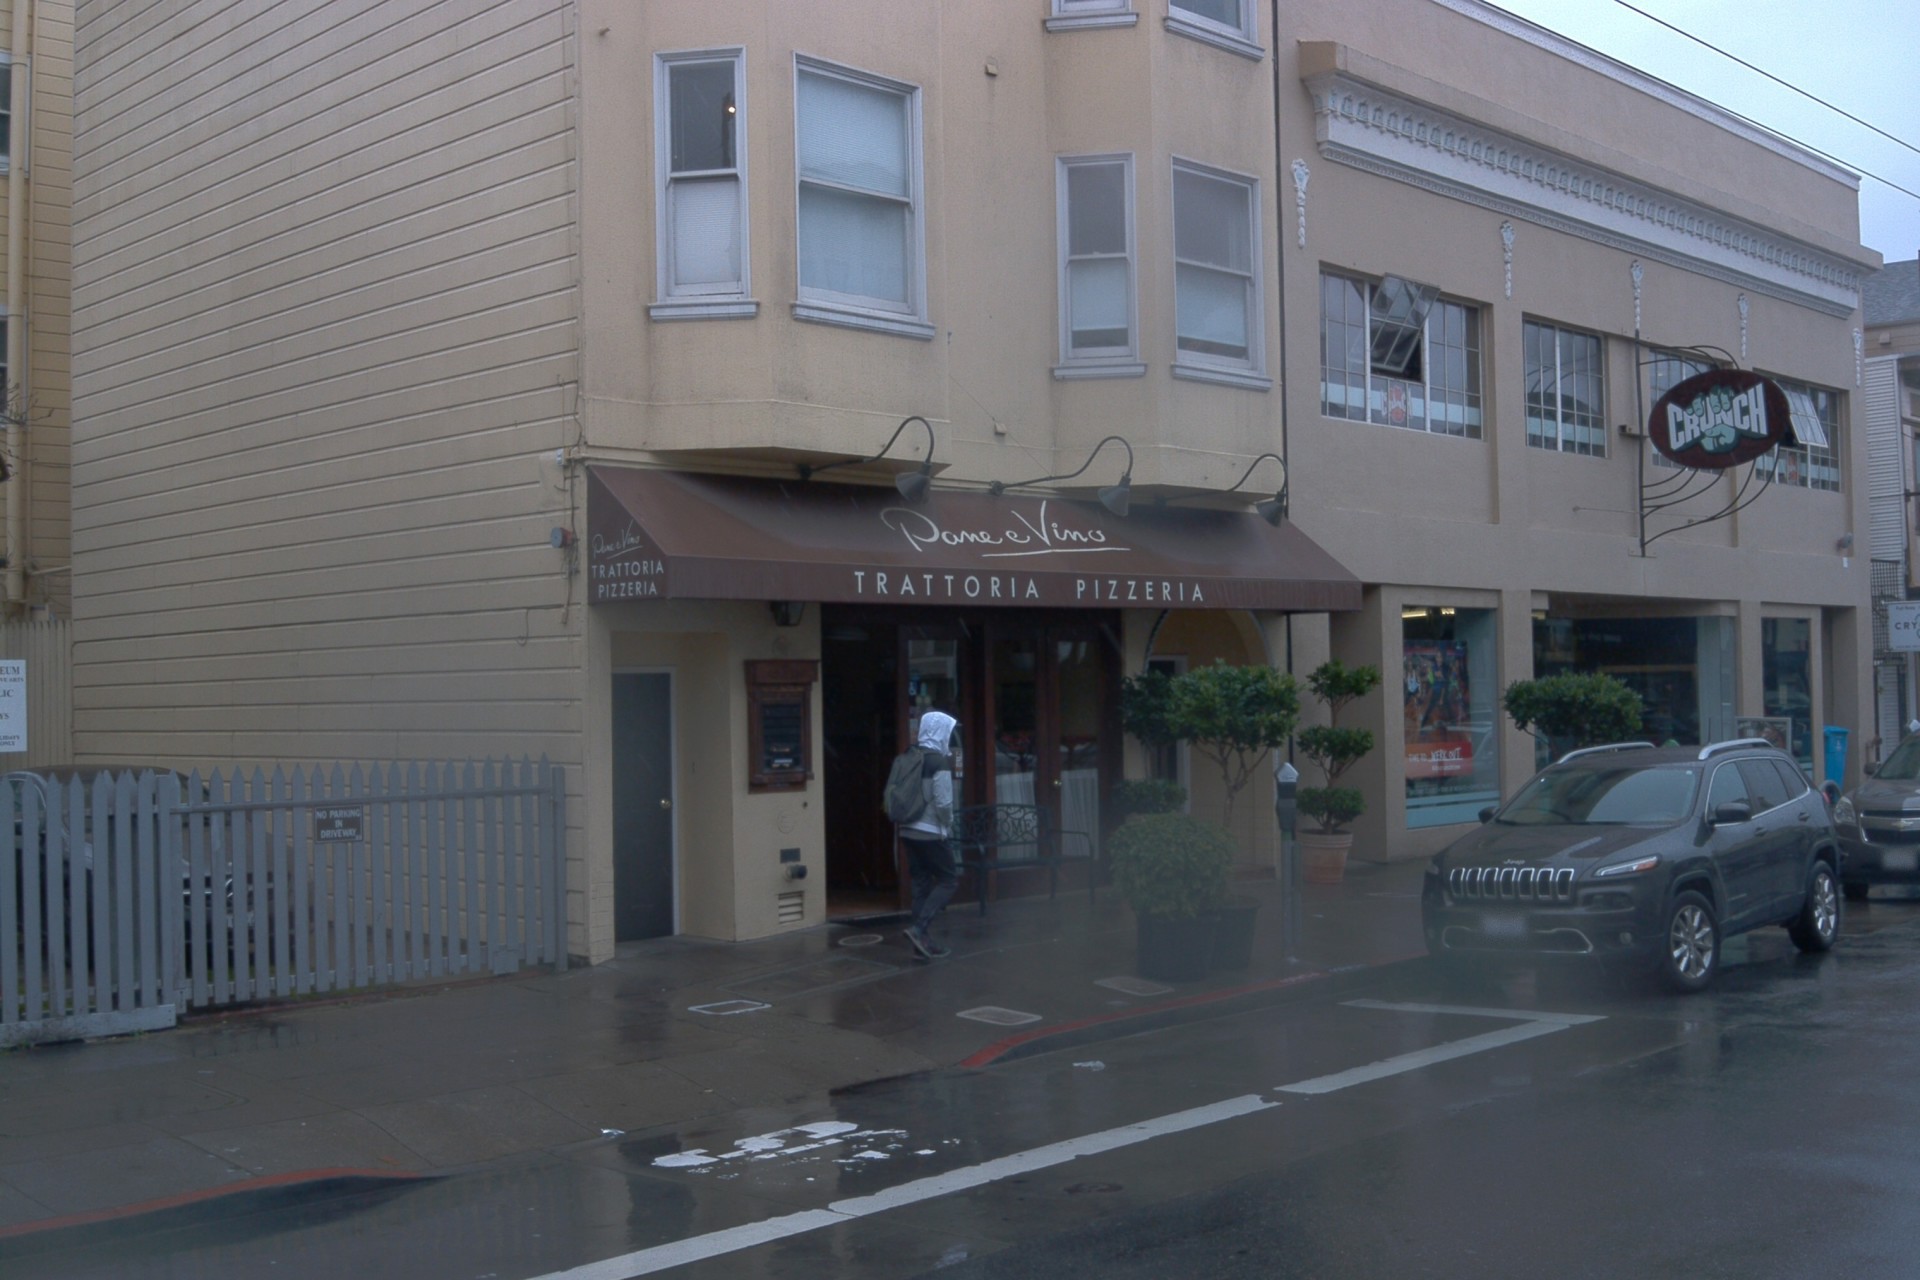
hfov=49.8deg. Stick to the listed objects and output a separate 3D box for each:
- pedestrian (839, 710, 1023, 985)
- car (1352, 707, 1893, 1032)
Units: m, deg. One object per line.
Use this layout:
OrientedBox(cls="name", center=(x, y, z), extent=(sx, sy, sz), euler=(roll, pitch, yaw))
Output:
OrientedBox(cls="pedestrian", center=(-0.202, 1.422, 14.580), extent=(1.056, 1.800, 0.729), euler=(0, 1, -43))
OrientedBox(cls="car", center=(5.124, 1.525, 15.513), extent=(2.113, 1.830, 4.891), euler=(2, 1, 40))
